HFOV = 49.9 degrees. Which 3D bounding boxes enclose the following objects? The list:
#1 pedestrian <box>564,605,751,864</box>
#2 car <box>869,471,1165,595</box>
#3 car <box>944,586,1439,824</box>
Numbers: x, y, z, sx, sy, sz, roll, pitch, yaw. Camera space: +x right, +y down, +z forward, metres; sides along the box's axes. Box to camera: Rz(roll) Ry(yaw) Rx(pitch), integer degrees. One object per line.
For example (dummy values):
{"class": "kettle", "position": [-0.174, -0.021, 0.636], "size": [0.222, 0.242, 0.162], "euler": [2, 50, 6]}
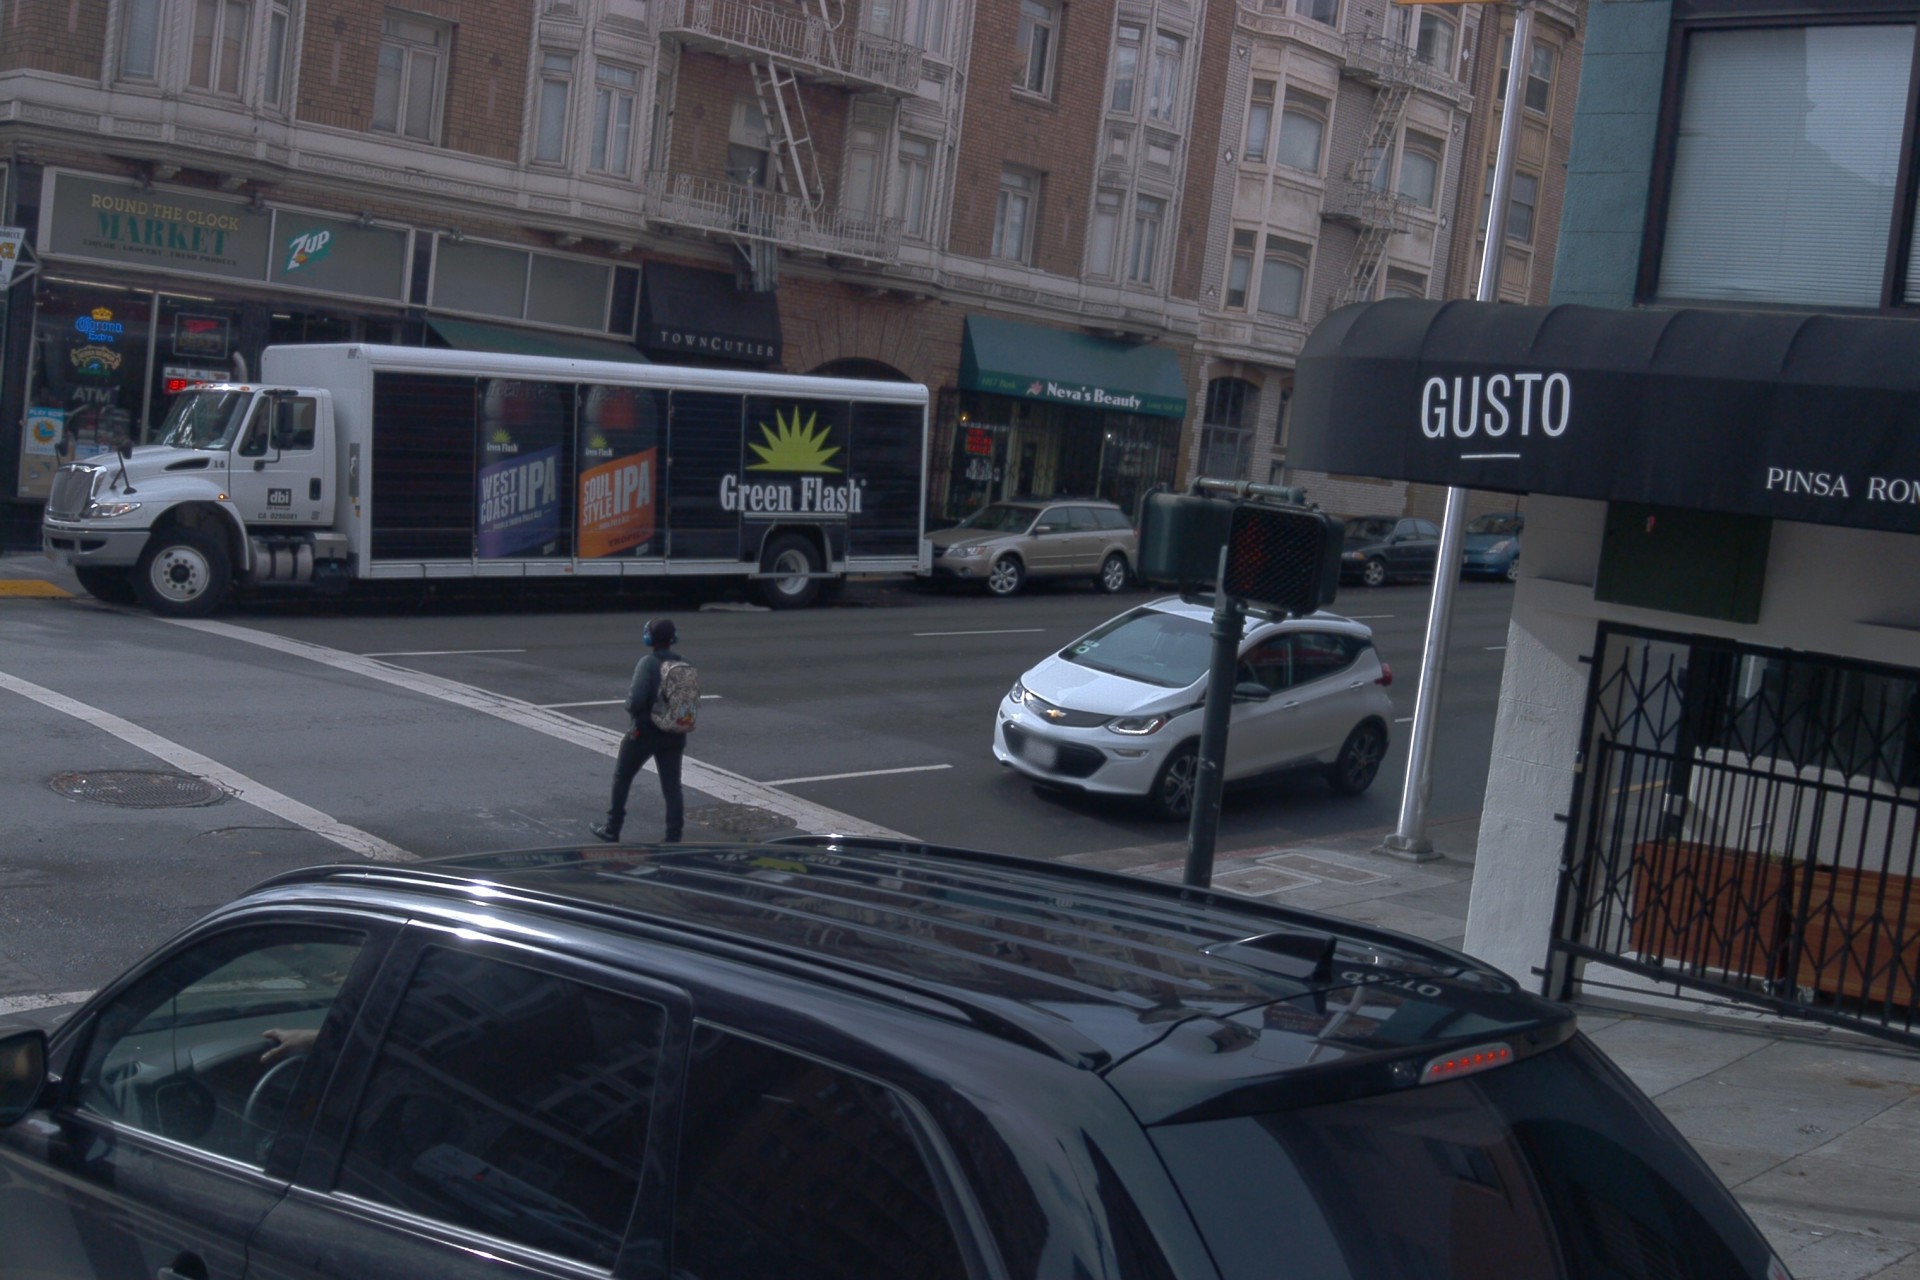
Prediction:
{"class": "pedestrian", "position": [-1.947, 0.579, 13.281], "size": [0.929, 1.590, 0.750], "euler": [2, 1, 43]}
{"class": "car", "position": [1.008, -1.674, 33.638], "size": [2.182, 1.770, 4.833], "euler": [2, 1, 42]}
{"class": "car", "position": [2.090, 0.475, 17.677], "size": [2.062, 1.780, 4.279], "euler": [2, 1, 42]}
